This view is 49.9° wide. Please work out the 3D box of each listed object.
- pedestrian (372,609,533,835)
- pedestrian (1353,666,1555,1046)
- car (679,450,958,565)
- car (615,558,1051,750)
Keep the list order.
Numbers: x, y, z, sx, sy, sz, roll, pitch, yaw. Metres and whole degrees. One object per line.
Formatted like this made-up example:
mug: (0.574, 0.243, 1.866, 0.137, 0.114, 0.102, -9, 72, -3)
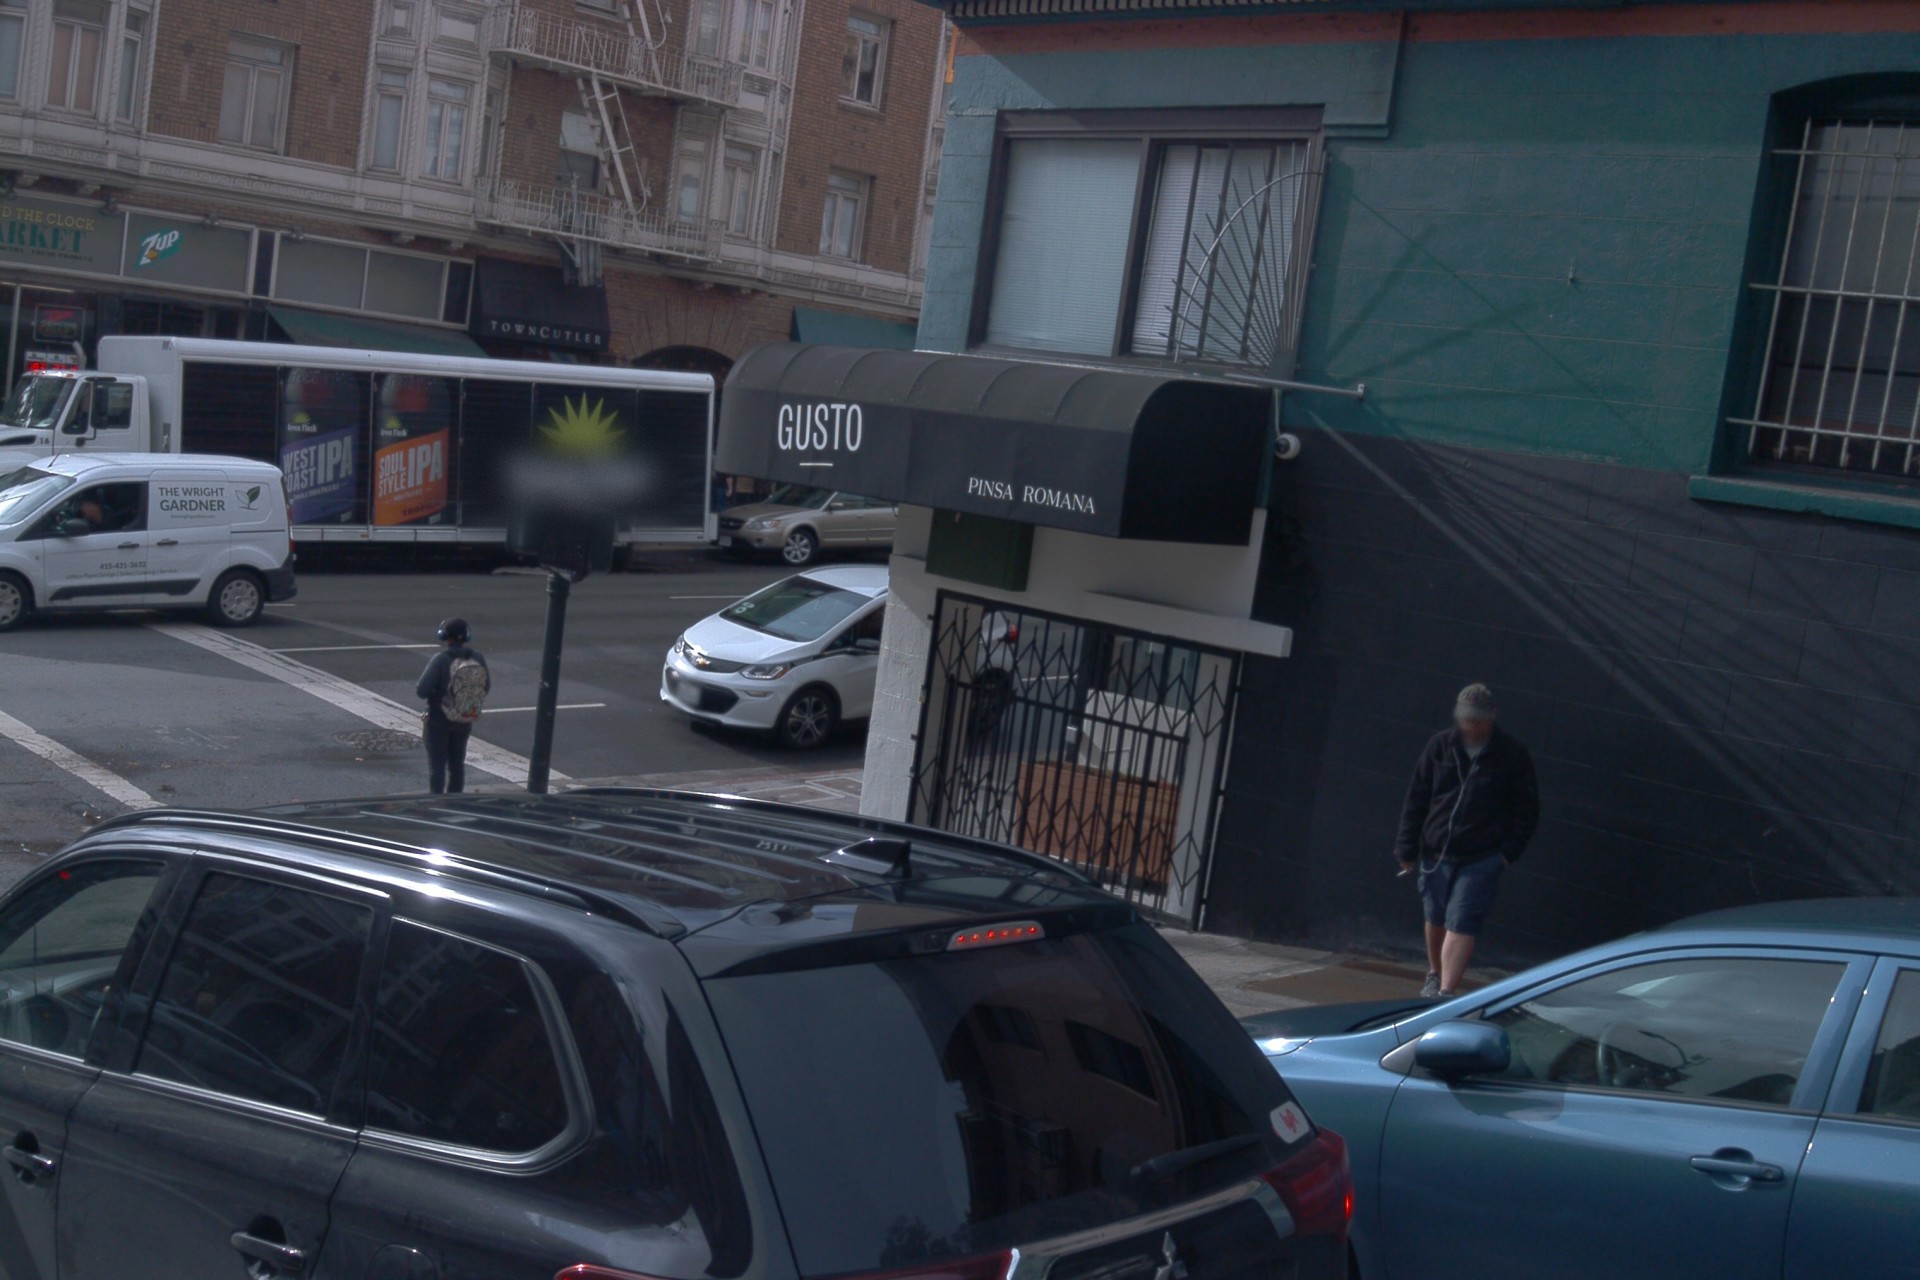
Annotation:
pedestrian: (-3.747, 0.578, 15.217, 0.929, 1.590, 0.750, 2, 1, 43)
pedestrian: (2.513, 1.047, 10.453, 0.854, 1.800, 0.769, 1, 1, 22)
car: (-2.471, -2.314, 37.124, 2.182, 1.770, 4.833, 2, 1, 42)
car: (-1.224, 0.115, 21.421, 2.062, 1.780, 4.279, 2, 1, 42)
